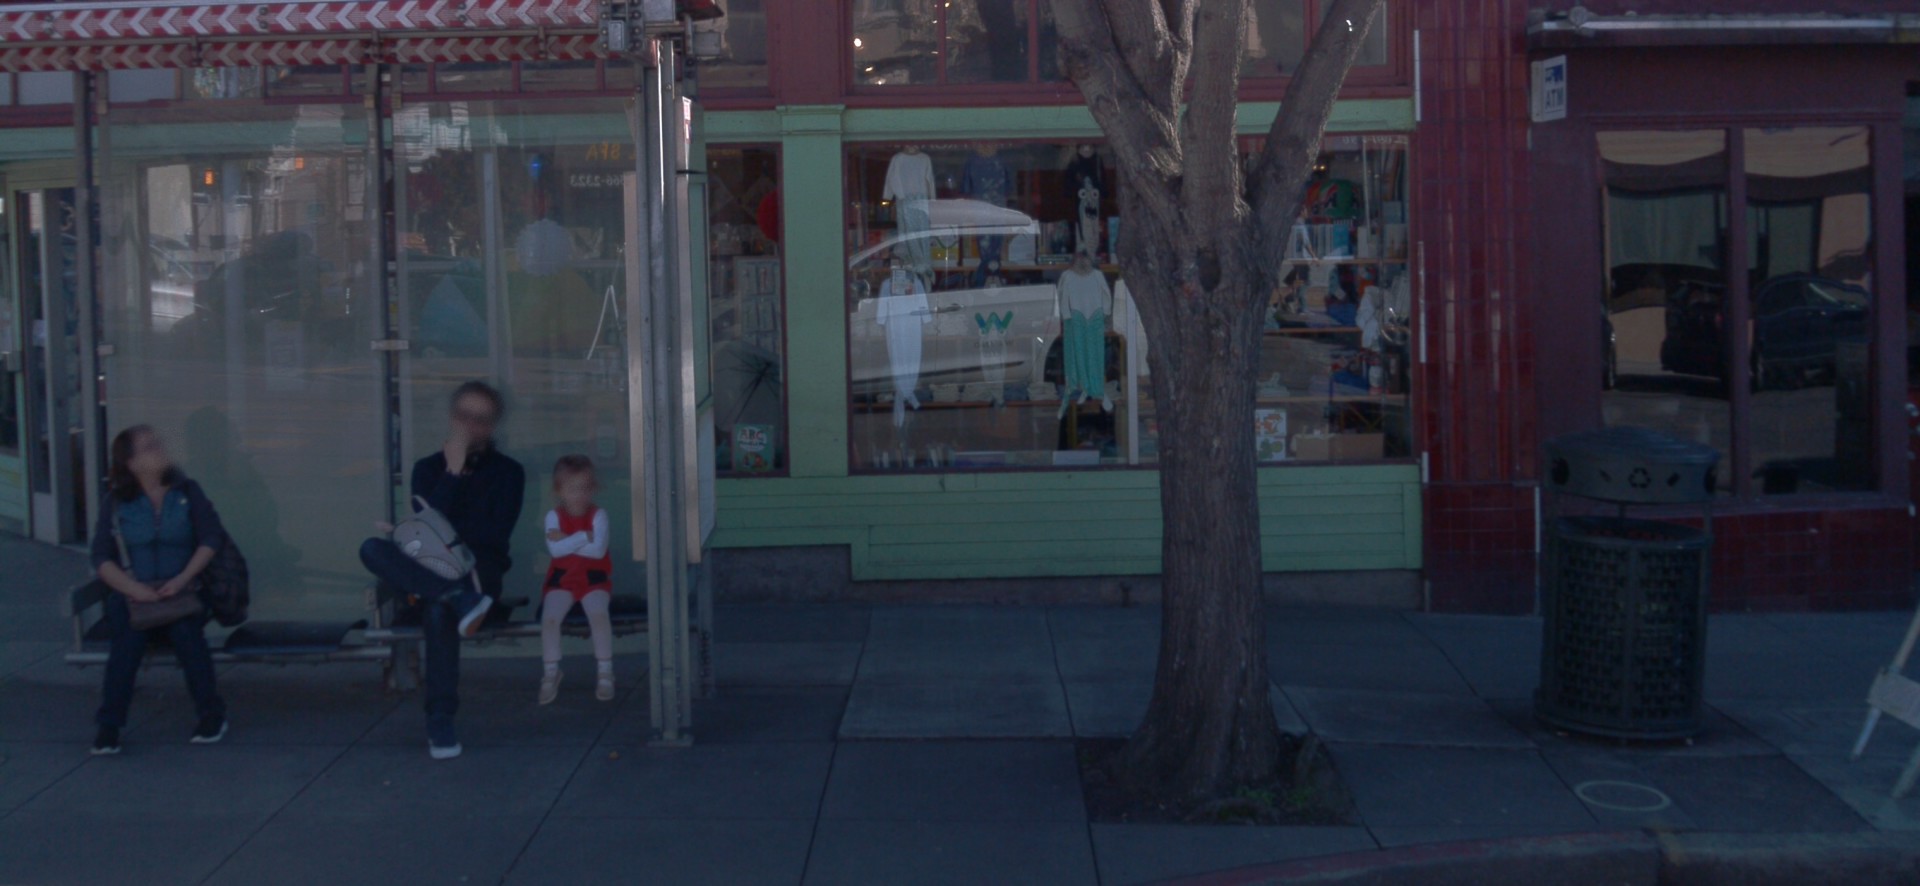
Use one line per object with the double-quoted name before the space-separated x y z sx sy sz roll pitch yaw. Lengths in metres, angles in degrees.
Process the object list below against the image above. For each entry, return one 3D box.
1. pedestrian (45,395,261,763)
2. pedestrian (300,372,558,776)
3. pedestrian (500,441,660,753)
"pedestrian" -3.127 0.486 8.060 0.737 1.258 0.794 -1 2 -19
"pedestrian" -2.027 0.464 7.995 0.753 1.398 0.926 0 2 0
"pedestrian" -1.464 0.577 8.018 0.528 1.098 0.572 0 2 -3
